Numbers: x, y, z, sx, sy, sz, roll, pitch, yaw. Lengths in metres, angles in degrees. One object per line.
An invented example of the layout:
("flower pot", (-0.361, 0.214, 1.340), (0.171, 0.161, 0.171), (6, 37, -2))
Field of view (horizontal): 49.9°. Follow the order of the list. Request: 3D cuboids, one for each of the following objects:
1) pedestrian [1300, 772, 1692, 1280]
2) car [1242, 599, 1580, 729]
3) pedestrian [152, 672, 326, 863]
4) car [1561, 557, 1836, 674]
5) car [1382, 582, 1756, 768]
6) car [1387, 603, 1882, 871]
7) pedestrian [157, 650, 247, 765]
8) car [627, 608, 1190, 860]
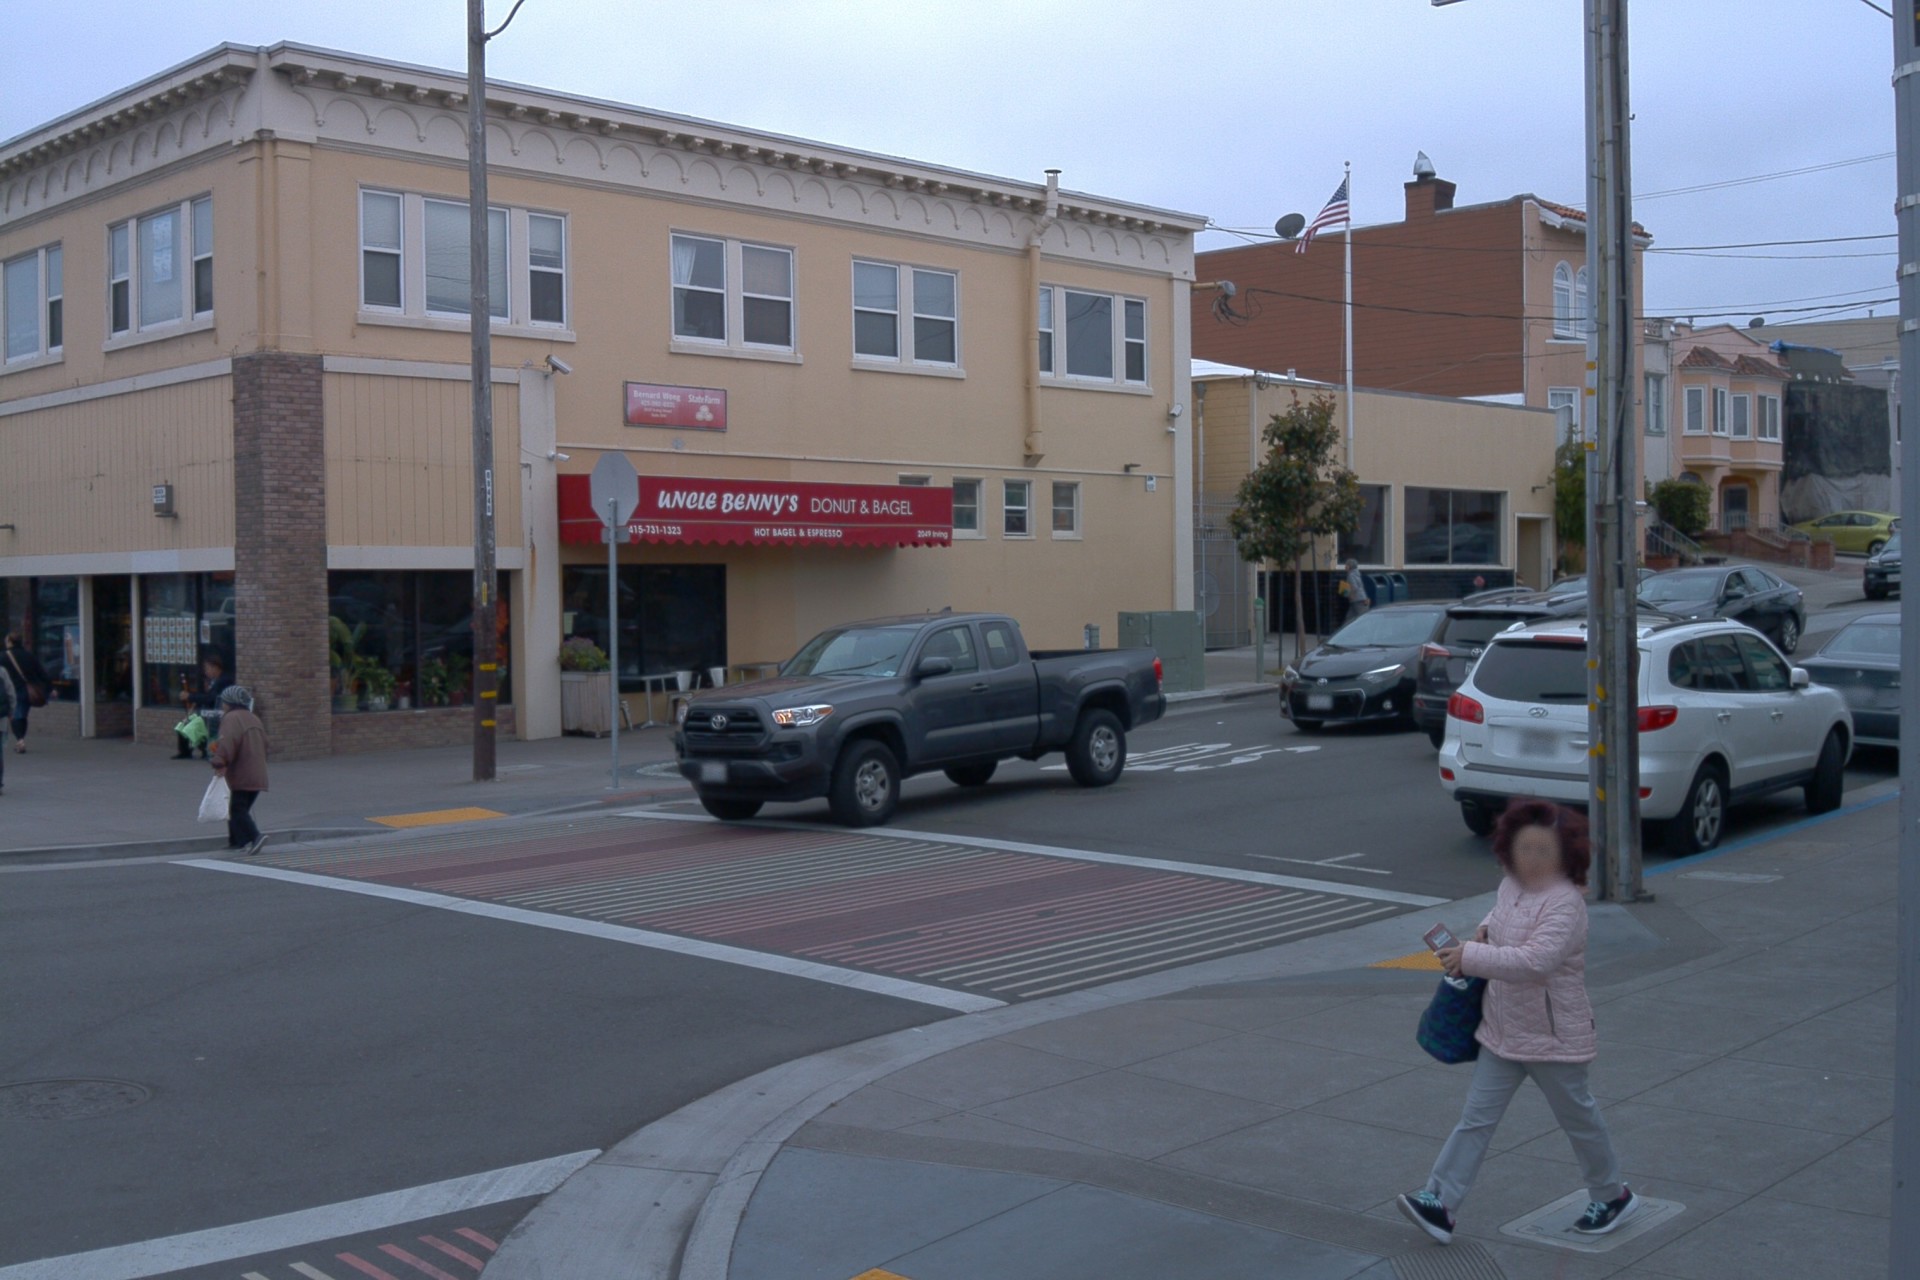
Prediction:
("pedestrian", (1.645, 1.194, 6.471), (0.849, 1.479, 0.911), (0, 1, -14))
("car", (5.583, 0.240, 25.202), (2.067, 1.440, 4.540), (0, 1, 42))
("pedestrian", (-5.935, 1.020, 17.030), (0.835, 1.477, 1.063), (0, 1, 33))
("car", (11.319, -0.372, 31.479), (2.082, 1.644, 4.864), (1, 1, 45))
("car", (6.506, 0.312, 21.798), (1.922, 1.760, 4.392), (1, 1, 45))
("car", (5.516, 0.643, 16.539), (2.119, 1.840, 4.511), (0, 1, 42))
("pedestrian", (-9.403, 0.823, 25.613), (0.878, 1.374, 0.735), (1, 1, 44))
("car", (-0.294, 0.720, 19.181), (2.075, 2.008, 5.437), (0, 1, 42))
